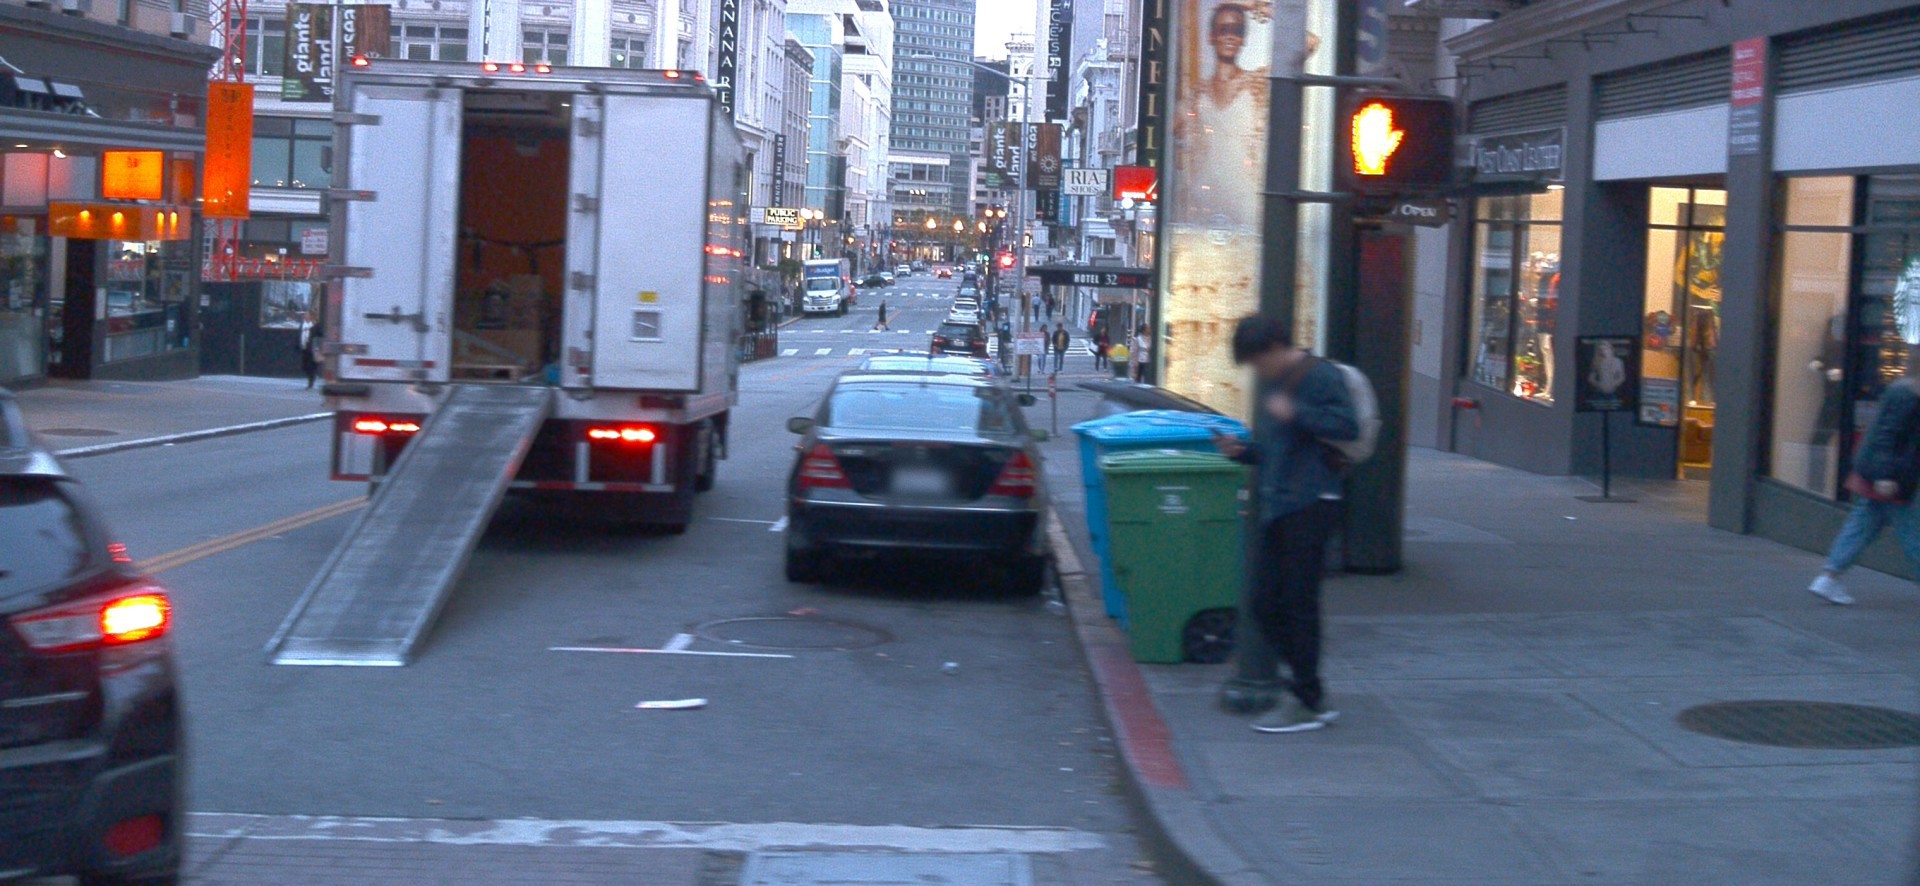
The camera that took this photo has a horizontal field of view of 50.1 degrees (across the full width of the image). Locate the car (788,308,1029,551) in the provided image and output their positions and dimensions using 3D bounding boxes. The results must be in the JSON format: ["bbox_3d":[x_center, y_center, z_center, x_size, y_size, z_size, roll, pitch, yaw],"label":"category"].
[{"bbox_3d":[-0.380,-0.265,20.154,2.058,1.970,4.320,0,5,3],"label":"car"}]

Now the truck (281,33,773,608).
[{"bbox_3d":[-3.229,-1.188,17.412,2.877,3.828,7.276,0,5,-2],"label":"truck"}]

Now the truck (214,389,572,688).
[{"bbox_3d":[-3.142,0.412,12.028,1.000,1.149,4.082,0,5,0],"label":"truck"}]

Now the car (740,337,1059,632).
[{"bbox_3d":[-0.451,0.139,14.721,1.938,1.564,4.428,0,5,-2],"label":"car"}]

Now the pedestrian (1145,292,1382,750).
[{"bbox_3d":[1.235,0.285,8.489,0.880,1.795,0.679,0,1,0],"label":"pedestrian"}]
